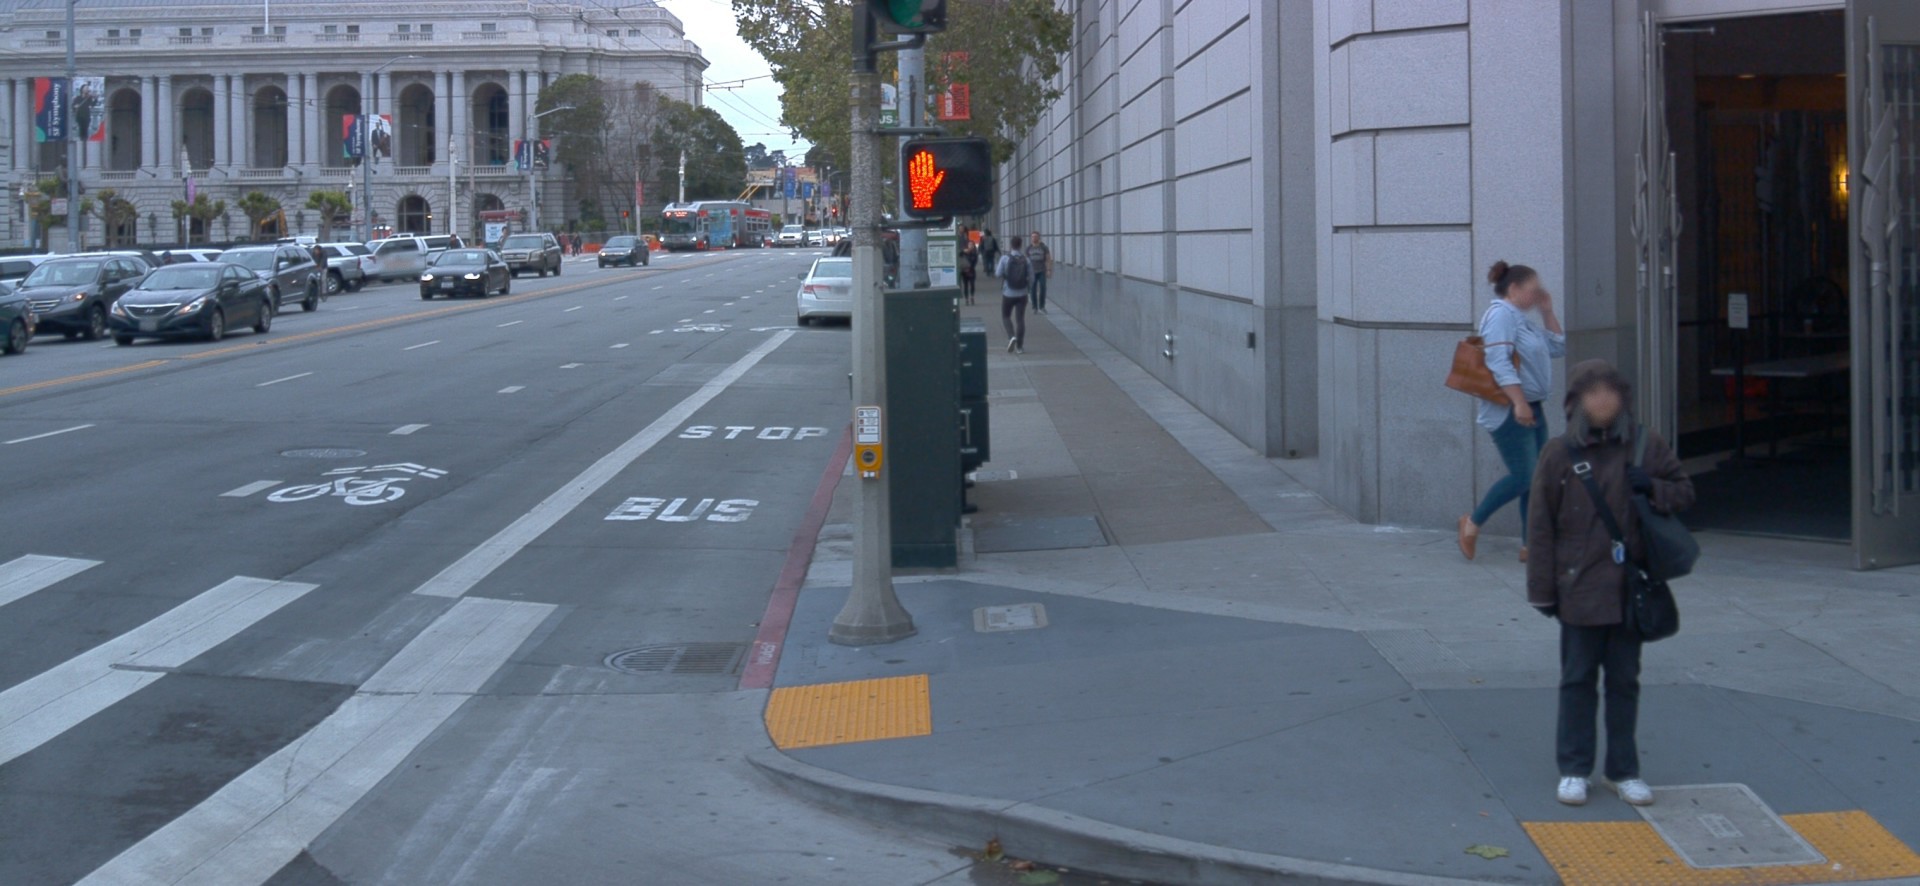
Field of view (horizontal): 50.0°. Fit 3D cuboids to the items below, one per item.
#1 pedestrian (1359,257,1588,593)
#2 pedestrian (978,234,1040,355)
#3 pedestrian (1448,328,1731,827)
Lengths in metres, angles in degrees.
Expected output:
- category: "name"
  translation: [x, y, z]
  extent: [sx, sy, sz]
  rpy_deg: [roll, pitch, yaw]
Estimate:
- category: "pedestrian"
  translation: [2.973, -0.158, 11.883]
  extent: [0.960, 1.801, 1.056]
  rpy_deg: [2, 3, 35]
- category: "pedestrian"
  translation: [0.737, -2.284, 31.413]
  extent: [0.875, 1.808, 1.129]
  rpy_deg: [0, 2, -2]
- category: "pedestrian"
  translation: [2.276, 0.450, 7.515]
  extent: [0.799, 1.707, 0.672]
  rpy_deg: [0, 2, -2]
